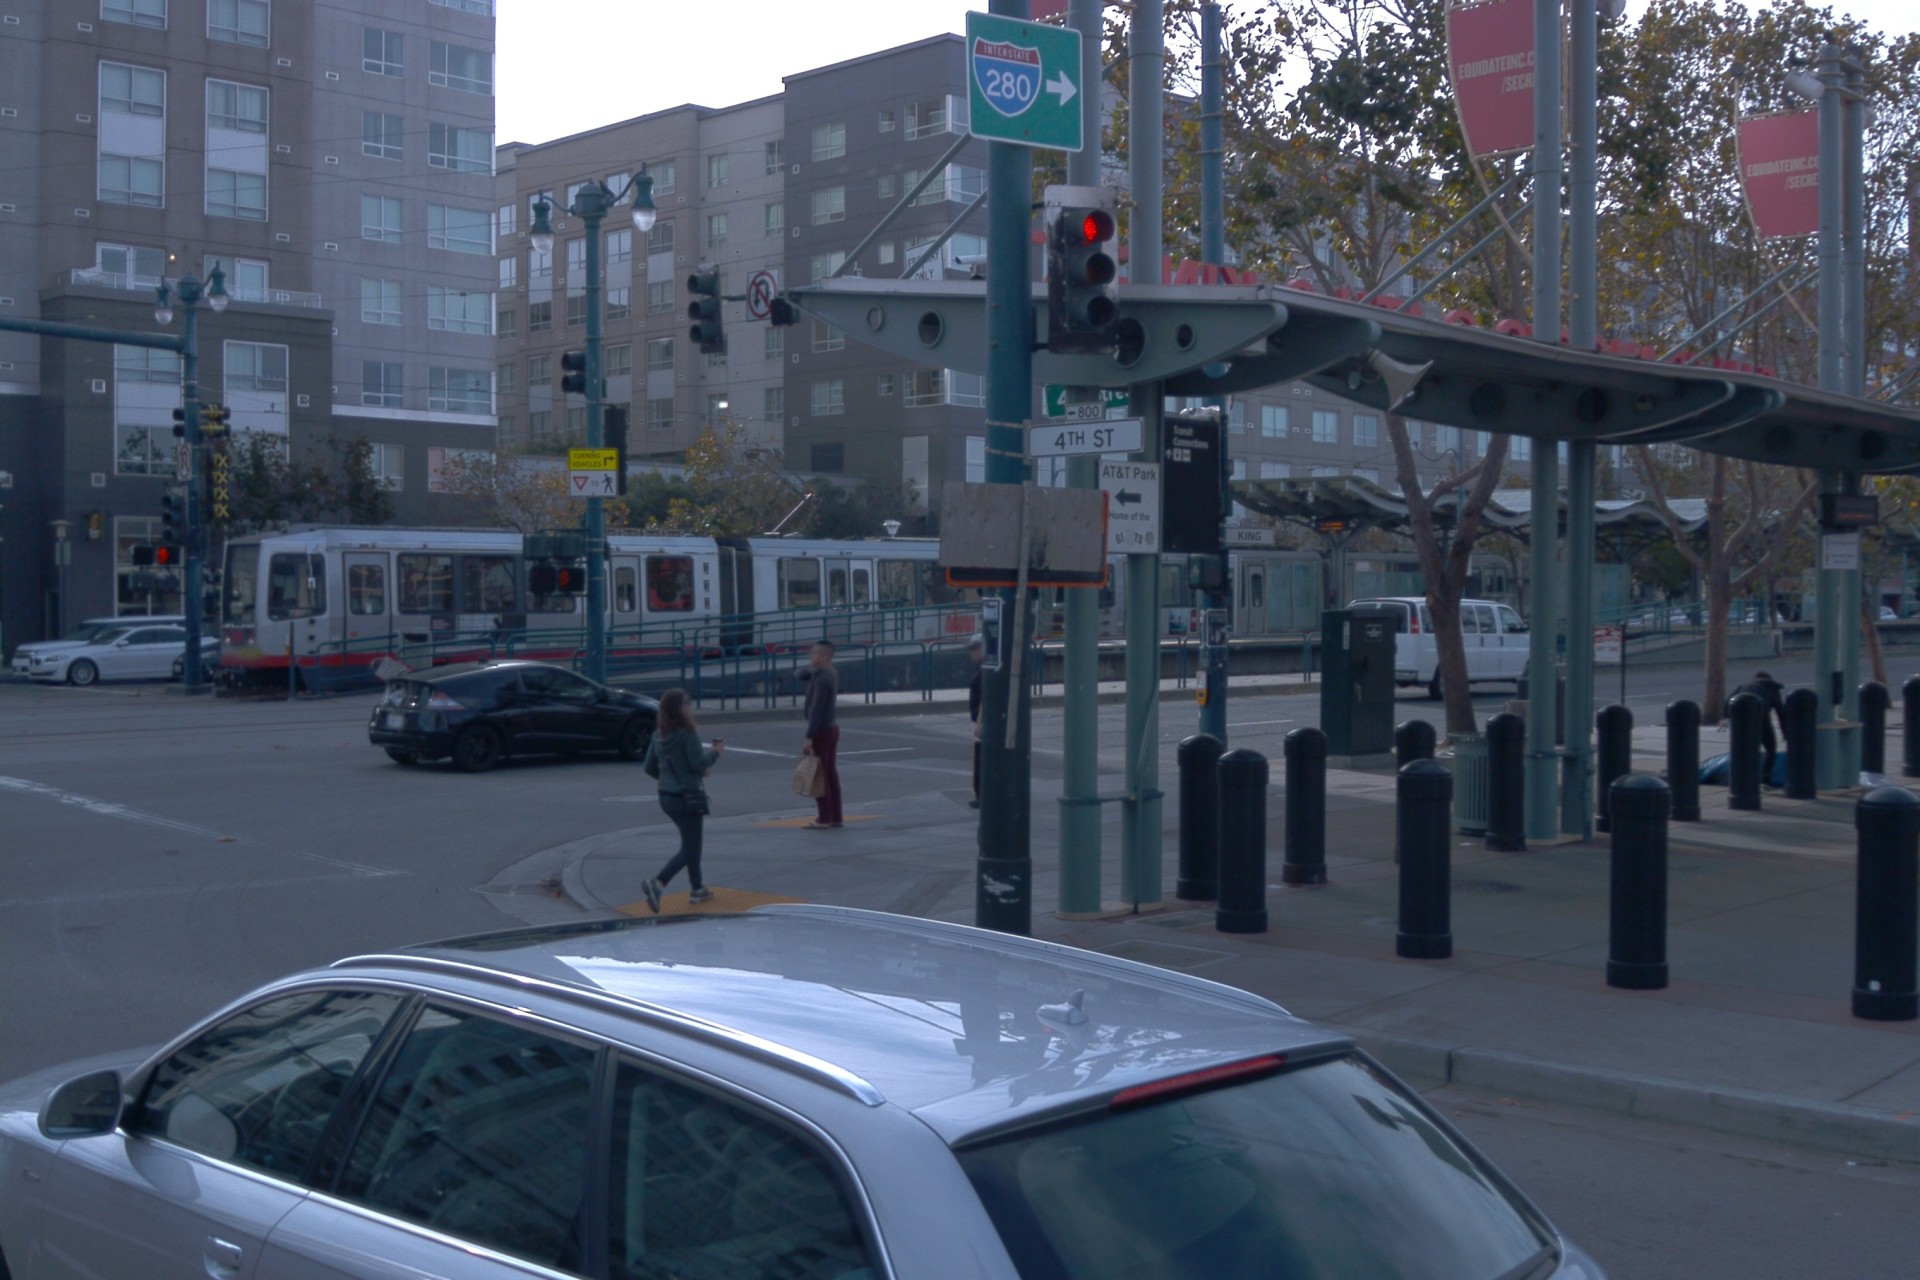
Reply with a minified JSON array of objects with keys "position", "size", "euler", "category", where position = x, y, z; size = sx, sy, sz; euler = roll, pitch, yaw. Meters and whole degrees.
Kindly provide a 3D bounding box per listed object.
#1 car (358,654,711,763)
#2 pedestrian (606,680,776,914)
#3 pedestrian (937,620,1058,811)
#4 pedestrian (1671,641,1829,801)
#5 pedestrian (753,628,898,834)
[{"position":[-5.486,0.854,27.044],"size":[1.973,1.278,4.103],"euler":[1,0,44],"category":"car"},{"position":[-1.975,1.122,15.237],"size":[0.678,1.642,1.016],"euler":[1,0,45],"category":"pedestrian"},{"position":[0.383,0.737,20.824],"size":[0.867,1.858,0.865],"euler":[1,0,31],"category":"pedestrian"},{"position":[8.283,0.823,21.711],"size":[1.168,1.605,1.218],"euler":[1,0,42],"category":"pedestrian"},{"position":[-1.230,0.810,19.048],"size":[0.980,1.819,0.928],"euler":[1,0,25],"category":"pedestrian"}]
